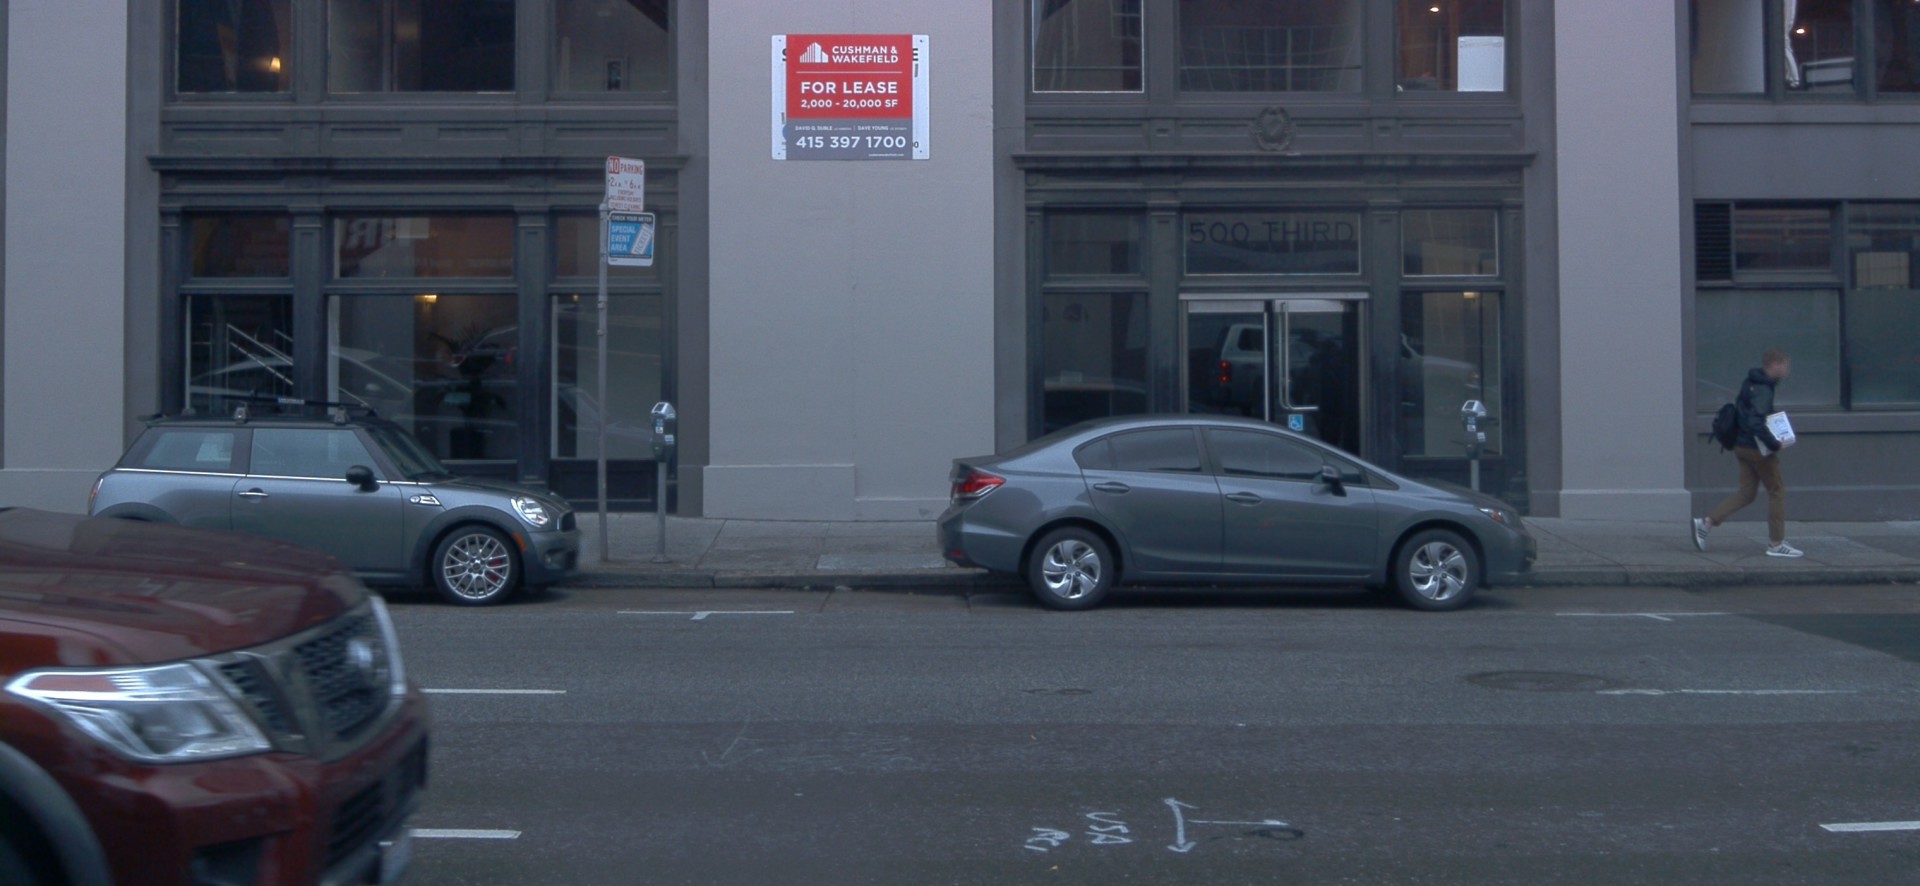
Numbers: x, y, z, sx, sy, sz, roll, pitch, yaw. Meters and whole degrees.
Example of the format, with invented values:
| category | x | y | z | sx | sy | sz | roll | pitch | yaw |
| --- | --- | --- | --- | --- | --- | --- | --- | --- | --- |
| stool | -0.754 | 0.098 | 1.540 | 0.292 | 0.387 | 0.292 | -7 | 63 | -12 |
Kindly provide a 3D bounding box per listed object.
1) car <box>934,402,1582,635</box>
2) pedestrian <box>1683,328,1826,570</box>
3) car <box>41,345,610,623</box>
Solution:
| category | x | y | z | sx | sy | sz | roll | pitch | yaw |
| --- | --- | --- | --- | --- | --- | --- | --- | --- | --- |
| car | 2.132 | 0.517 | 15.851 | 4.616 | 1.477 | 2.025 | 0 | 4 | -2 |
| pedestrian | 6.877 | 0.020 | 18.003 | 0.954 | 1.990 | 0.923 | 0 | 1 | 7 |
| car | -4.704 | 0.242 | 15.836 | 3.807 | 1.877 | 1.865 | 0 | 3 | -3 |
